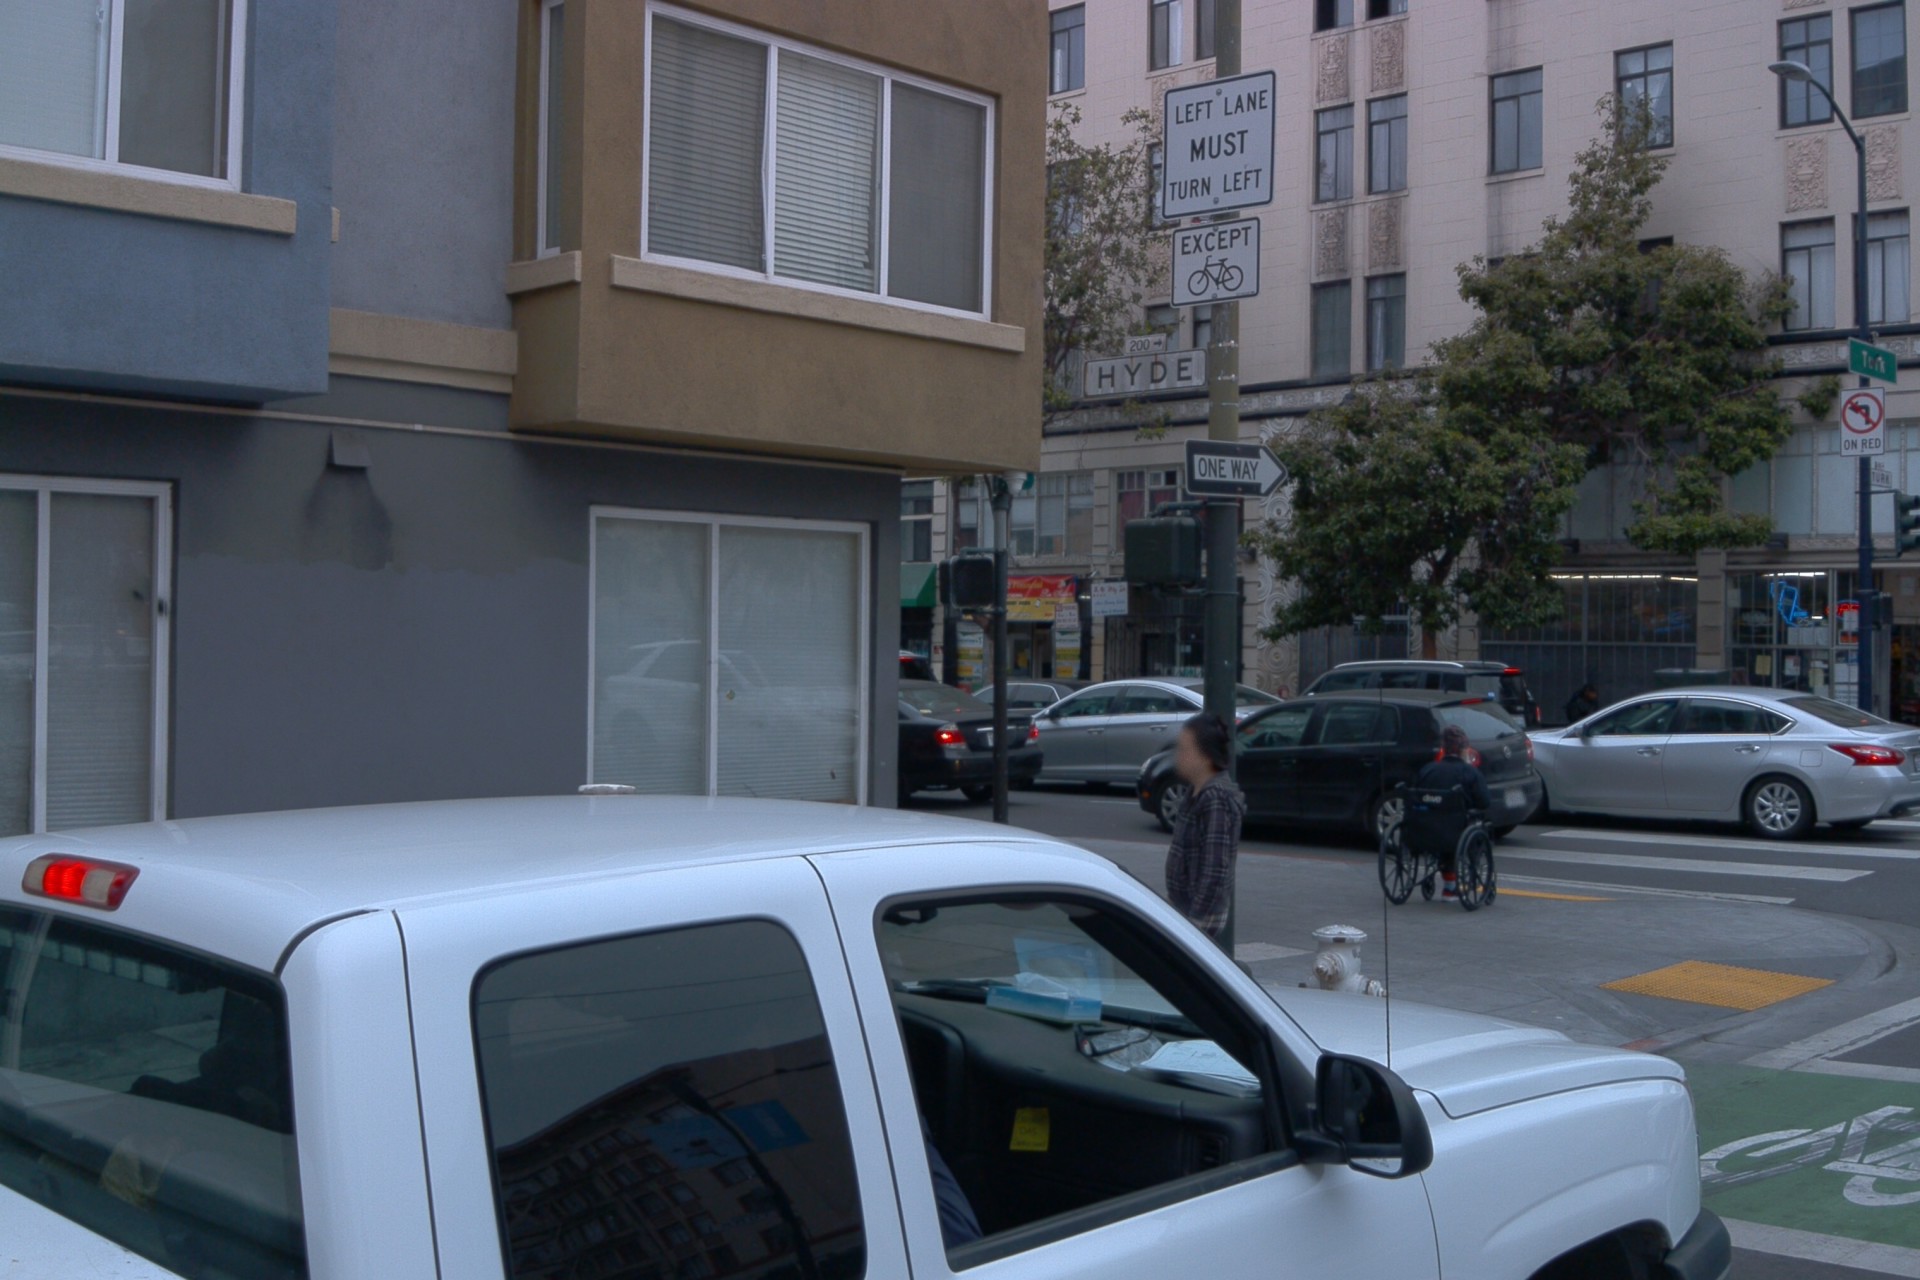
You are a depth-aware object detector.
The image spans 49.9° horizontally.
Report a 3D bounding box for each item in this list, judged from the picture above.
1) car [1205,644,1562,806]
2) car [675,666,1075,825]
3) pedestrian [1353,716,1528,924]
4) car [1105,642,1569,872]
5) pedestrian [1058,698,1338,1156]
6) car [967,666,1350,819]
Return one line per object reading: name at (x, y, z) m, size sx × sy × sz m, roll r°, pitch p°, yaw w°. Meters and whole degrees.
car at (5.493, 1.031, 27.103) m, size 1.925 × 1.870 × 4.231 m, roll -1°, pitch 1°, yaw -45°
car at (-1.112, 1.190, 25.062) m, size 4.803 × 1.600 × 2.070 m, roll 1°, pitch 1°, yaw 43°
pedestrian at (3.503, 1.277, 15.017) m, size 0.883 × 1.370 × 1.026 m, roll 1°, pitch 1°, yaw 38°
car at (3.627, 1.039, 20.393) m, size 1.871 × 1.950 × 4.194 m, roll -1°, pitch 1°, yaw -44°
pedestrian at (1.034, 1.153, 8.753) m, size 1.093 × 1.760 × 0.988 m, roll 0°, pitch 1°, yaw 11°
car at (2.398, 1.199, 25.847) m, size 1.939 × 1.600 × 4.599 m, roll -1°, pitch 1°, yaw -44°
